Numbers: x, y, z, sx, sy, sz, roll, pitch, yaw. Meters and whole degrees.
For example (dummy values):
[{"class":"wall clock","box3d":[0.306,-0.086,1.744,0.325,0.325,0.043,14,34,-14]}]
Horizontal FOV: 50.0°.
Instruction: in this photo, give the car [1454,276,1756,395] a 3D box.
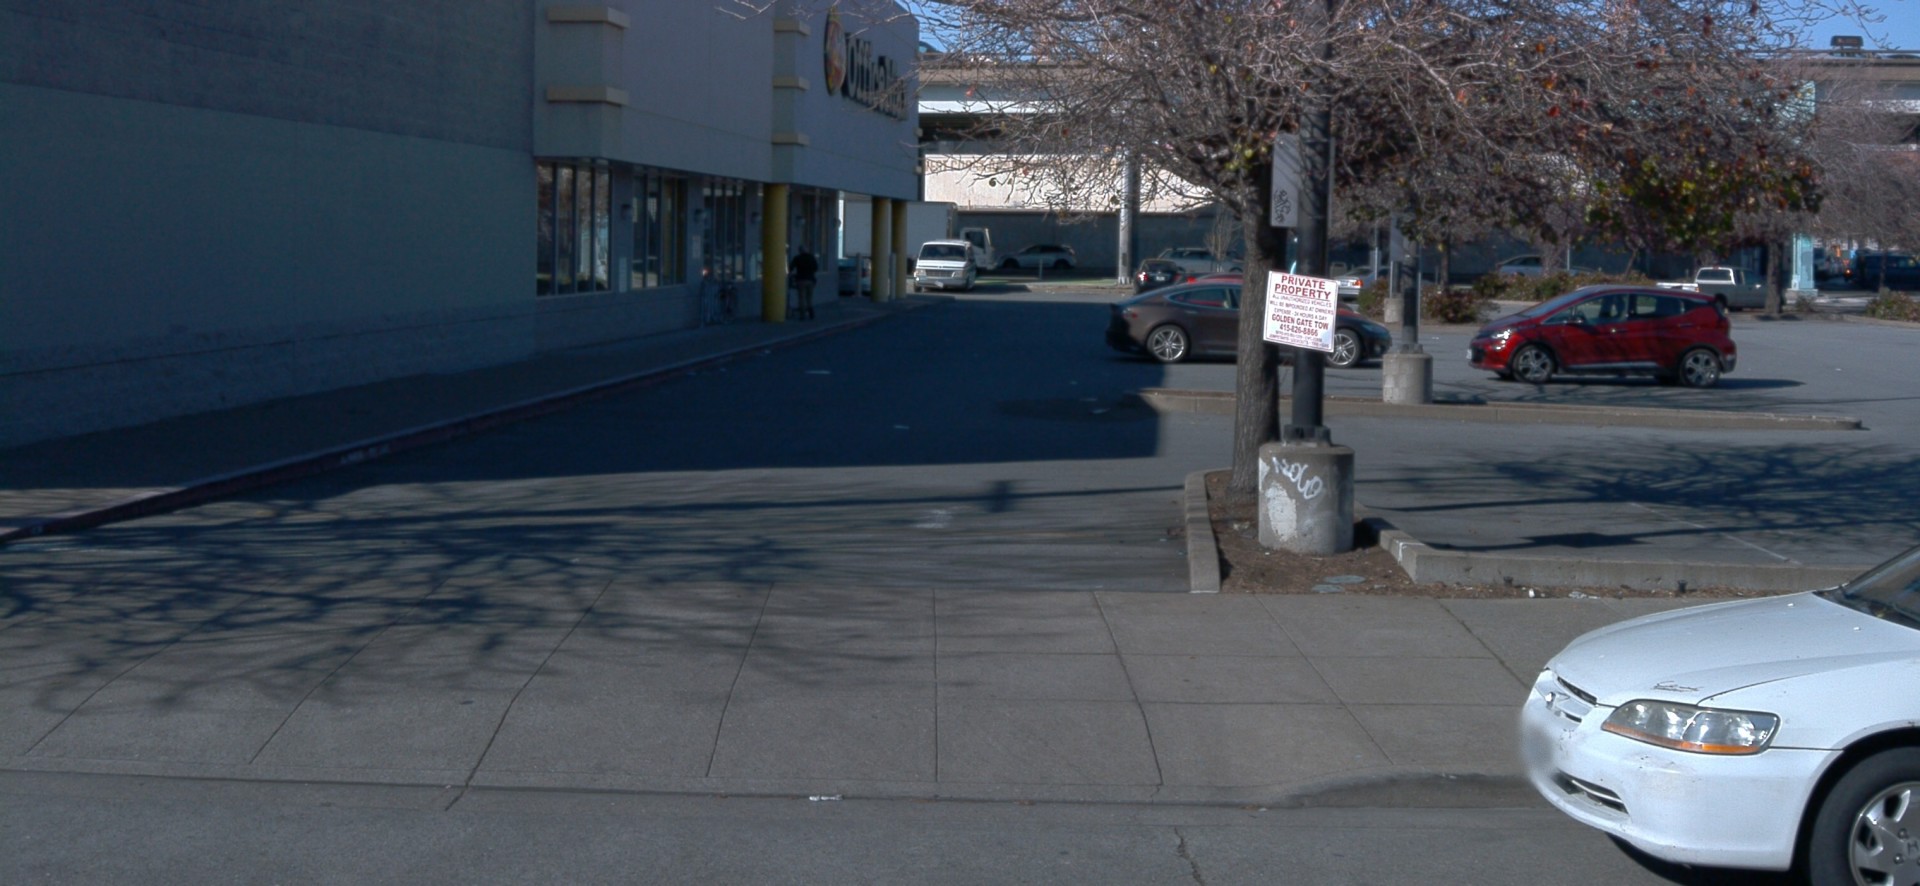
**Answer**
[{"class":"car","box3d":[10.198,-1.742,32.768,4.156,1.695,2.038,1,4,2]}]

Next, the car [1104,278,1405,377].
[{"class":"car","box3d":[5.060,-2.038,35.897,5.044,1.525,1.995,1,4,5]}]
